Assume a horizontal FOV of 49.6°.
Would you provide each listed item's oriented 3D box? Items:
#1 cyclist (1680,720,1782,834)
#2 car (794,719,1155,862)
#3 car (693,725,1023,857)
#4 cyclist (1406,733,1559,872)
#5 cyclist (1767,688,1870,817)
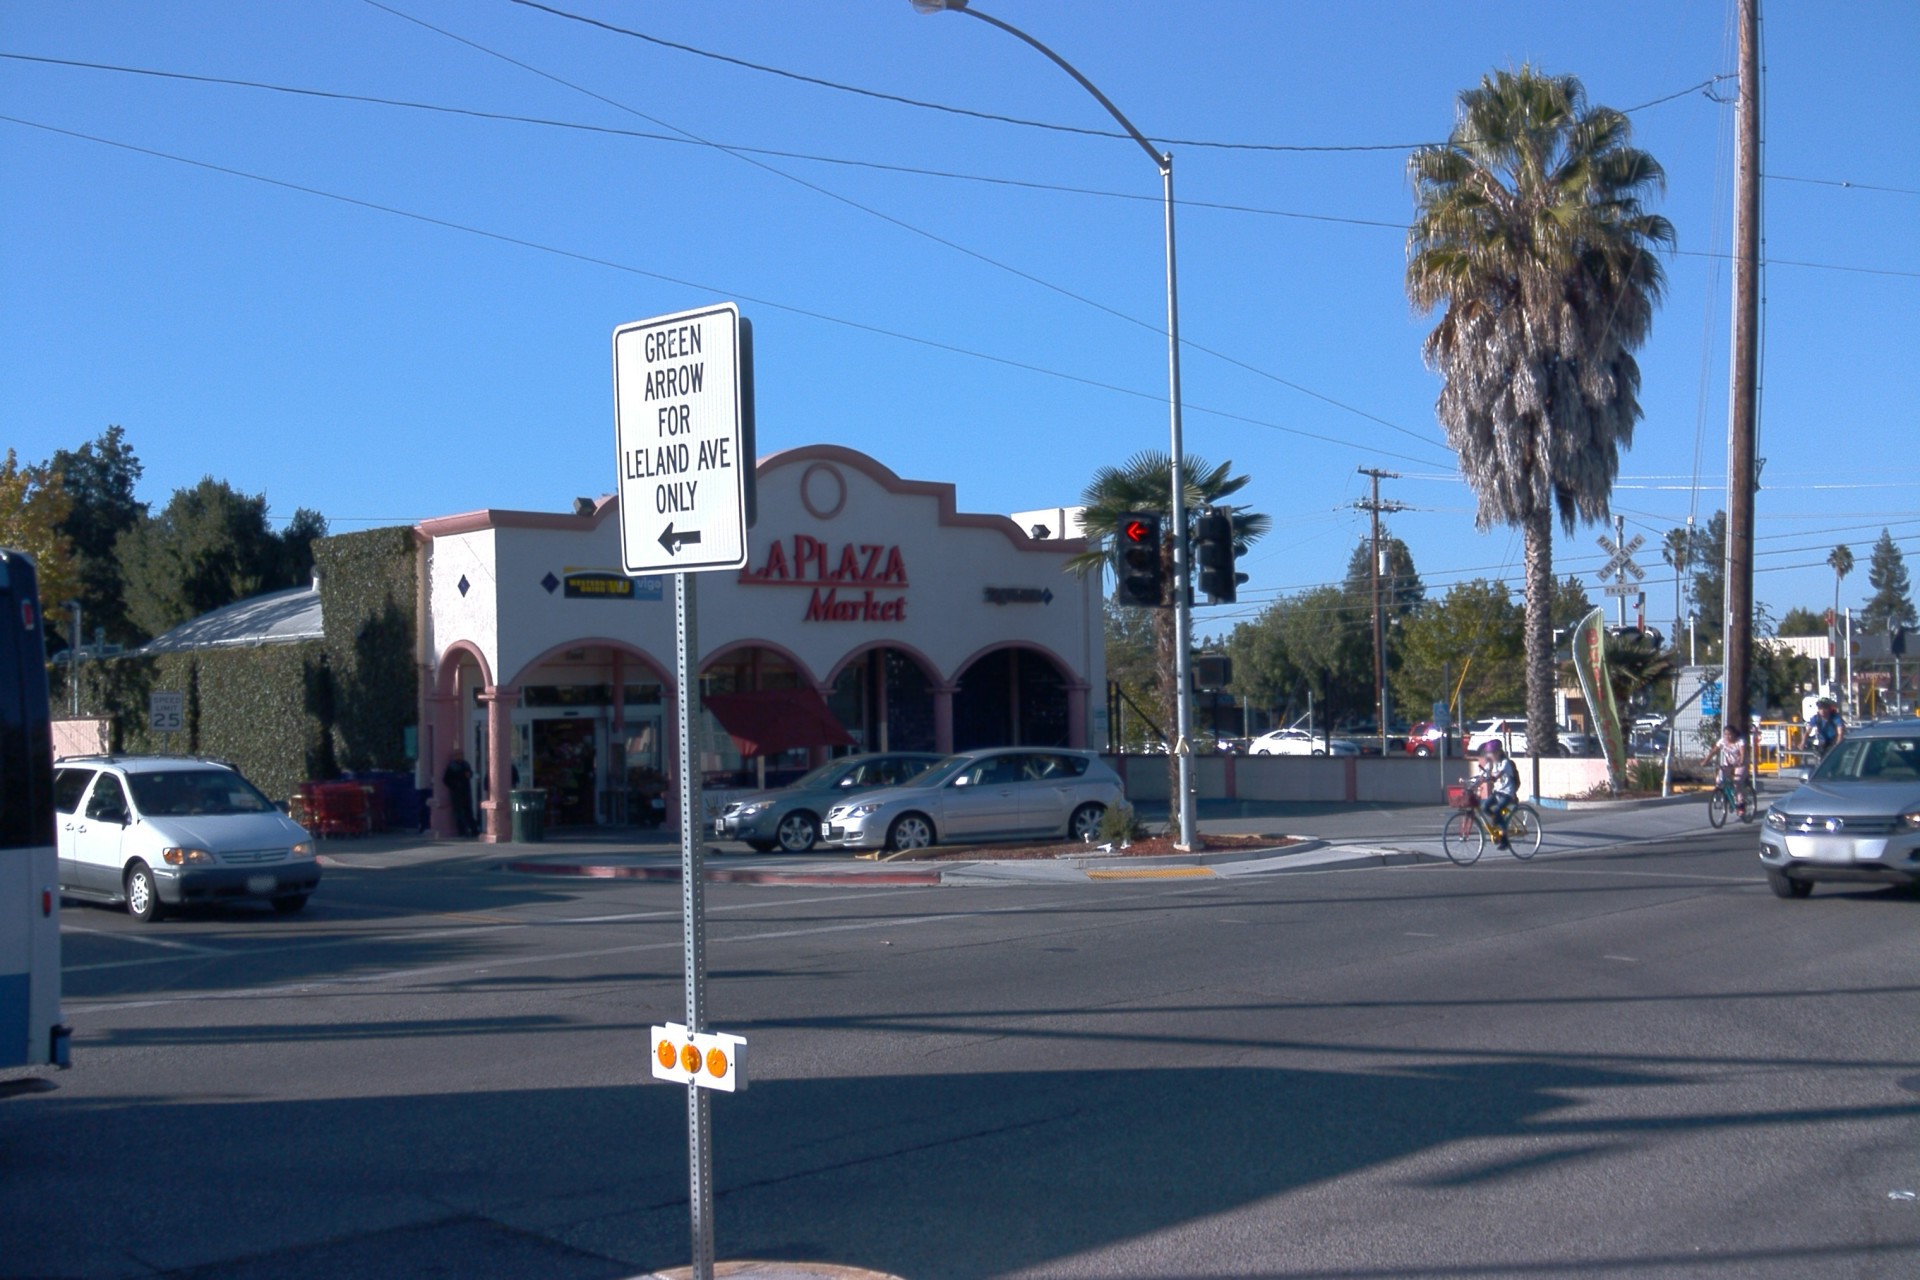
[{"bbox_3d":[11.206,1.965,30.175,0.767,1.540,1.749,0,-1,43],"label":"cyclist"},{"bbox_3d":[0.194,2.052,29.145,4.646,1.780,2.014,0,0,-21],"label":"car"},{"bbox_3d":[-1.546,2.237,31.550,4.565,1.760,2.048,0,0,-26],"label":"car"},{"bbox_3d":[6.384,1.950,25.334,1.931,1.570,0.742,1,-1,-36],"label":"cyclist"},{"bbox_3d":[13.346,1.718,32.266,0.867,1.910,1.942,0,-1,42],"label":"cyclist"}]
